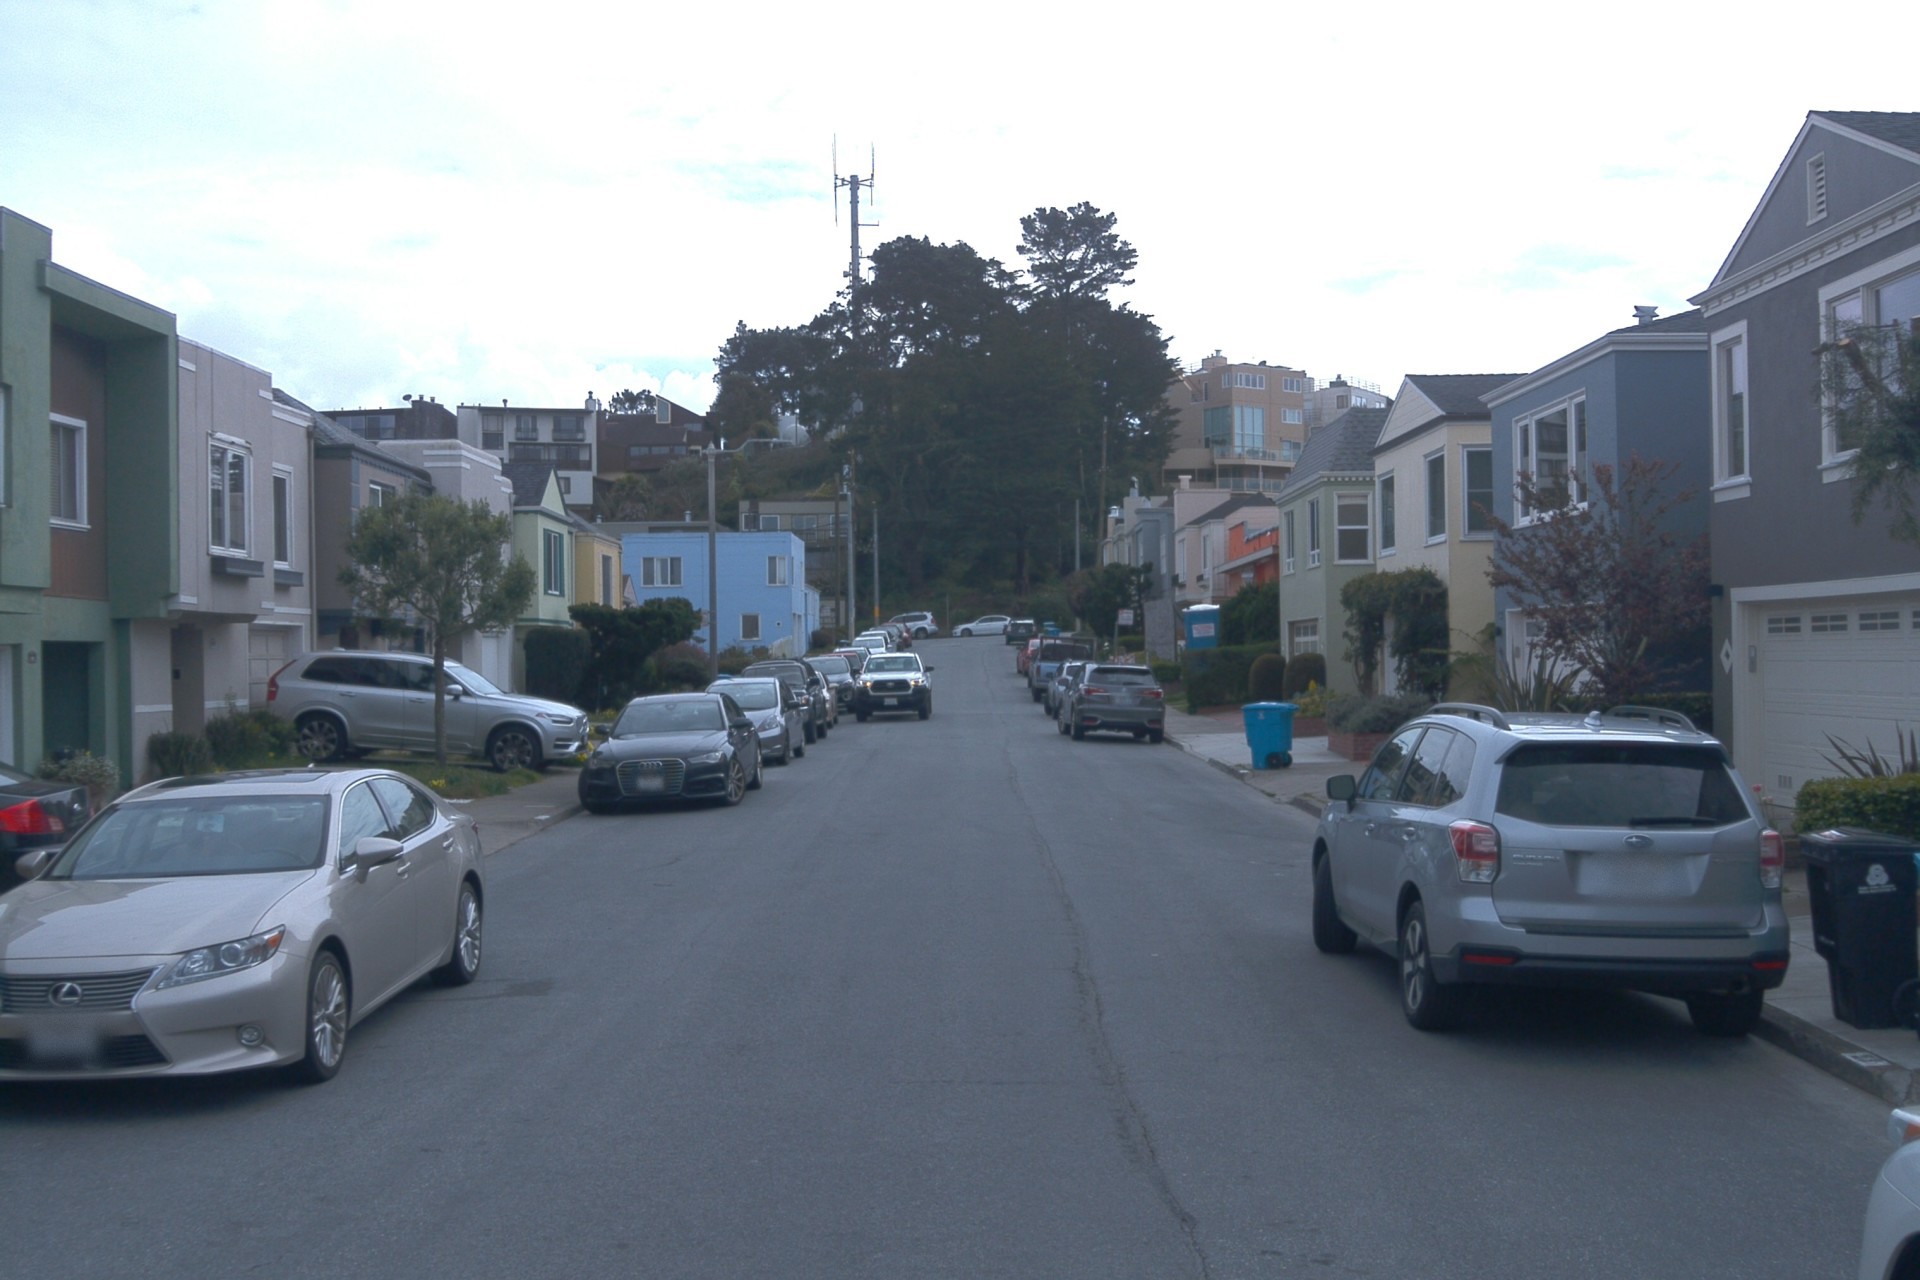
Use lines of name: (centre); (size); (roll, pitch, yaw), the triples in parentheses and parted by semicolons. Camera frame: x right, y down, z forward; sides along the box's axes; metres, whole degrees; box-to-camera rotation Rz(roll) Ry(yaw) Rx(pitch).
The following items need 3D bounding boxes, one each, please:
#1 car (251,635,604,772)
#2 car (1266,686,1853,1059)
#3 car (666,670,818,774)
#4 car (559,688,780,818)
car: (-8.229, 0.963, 32.333); (4.989, 2.070, 2.050); (0, 0, 1)
car: (3.263, 1.179, 12.438); (2.102, 1.730, 4.779); (0, 0, 0)
car: (-3.715, 1.370, 36.013); (2.058, 1.660, 4.209); (0, 0, 2)
car: (-3.756, 1.432, 27.682); (2.204, 1.490, 4.920); (0, 0, 1)
